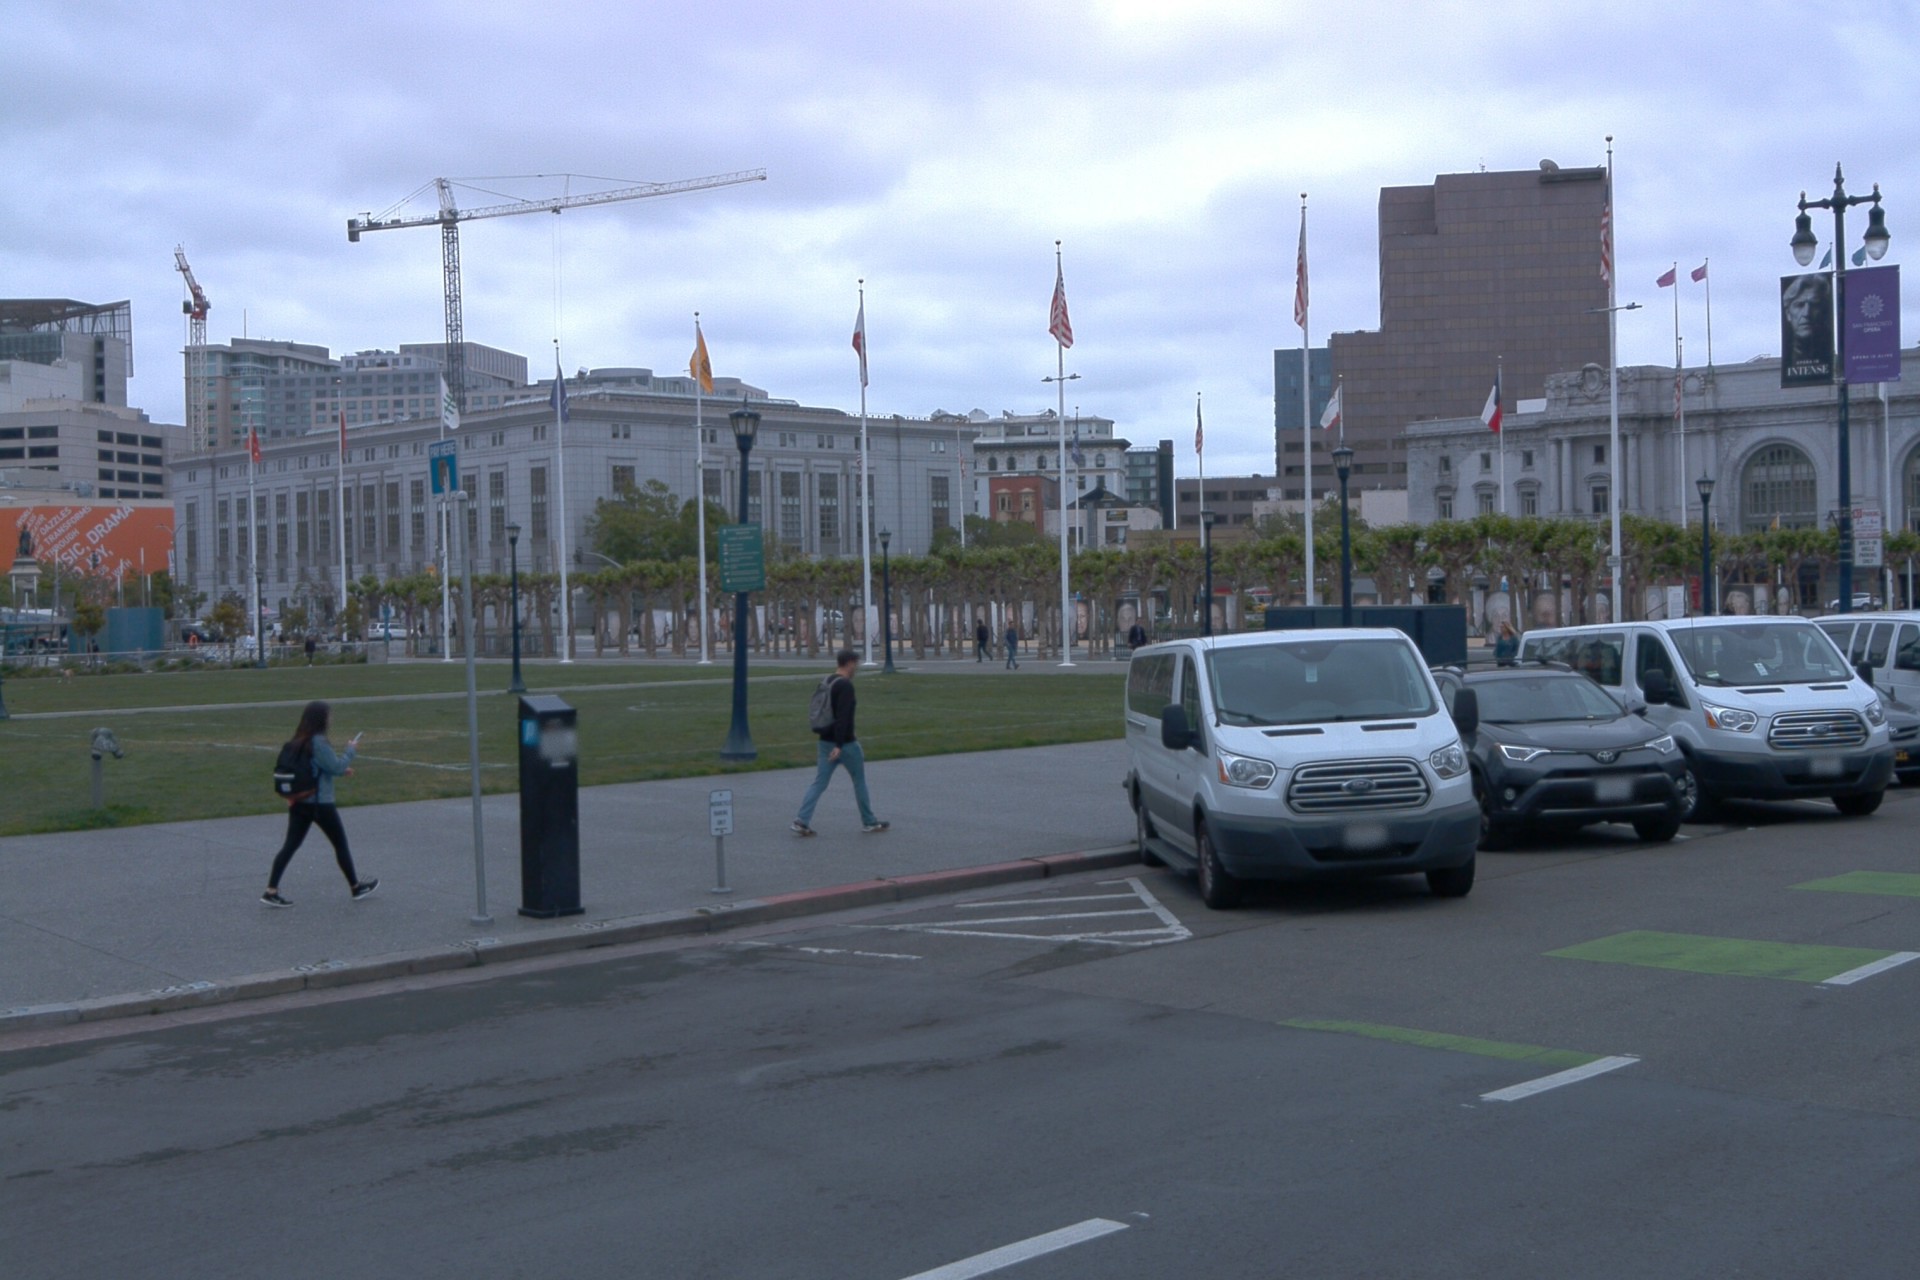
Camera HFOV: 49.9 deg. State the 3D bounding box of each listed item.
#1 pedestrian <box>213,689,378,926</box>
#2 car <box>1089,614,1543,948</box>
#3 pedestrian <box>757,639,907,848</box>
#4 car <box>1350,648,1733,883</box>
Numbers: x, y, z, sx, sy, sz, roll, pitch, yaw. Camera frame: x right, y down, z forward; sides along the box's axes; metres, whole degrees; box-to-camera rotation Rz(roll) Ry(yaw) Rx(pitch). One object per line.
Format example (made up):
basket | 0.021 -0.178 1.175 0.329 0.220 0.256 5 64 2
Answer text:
pedestrian | -5.208 1.278 16.189 0.789 1.734 0.970 1 1 44
car | 2.649 0.929 17.284 2.510 2.264 6.132 0 1 -2
pedestrian | -1.260 0.988 20.357 1.206 1.964 0.862 -1 1 -42
car | 5.422 1.080 19.983 2.151 1.907 4.627 0 1 -4
